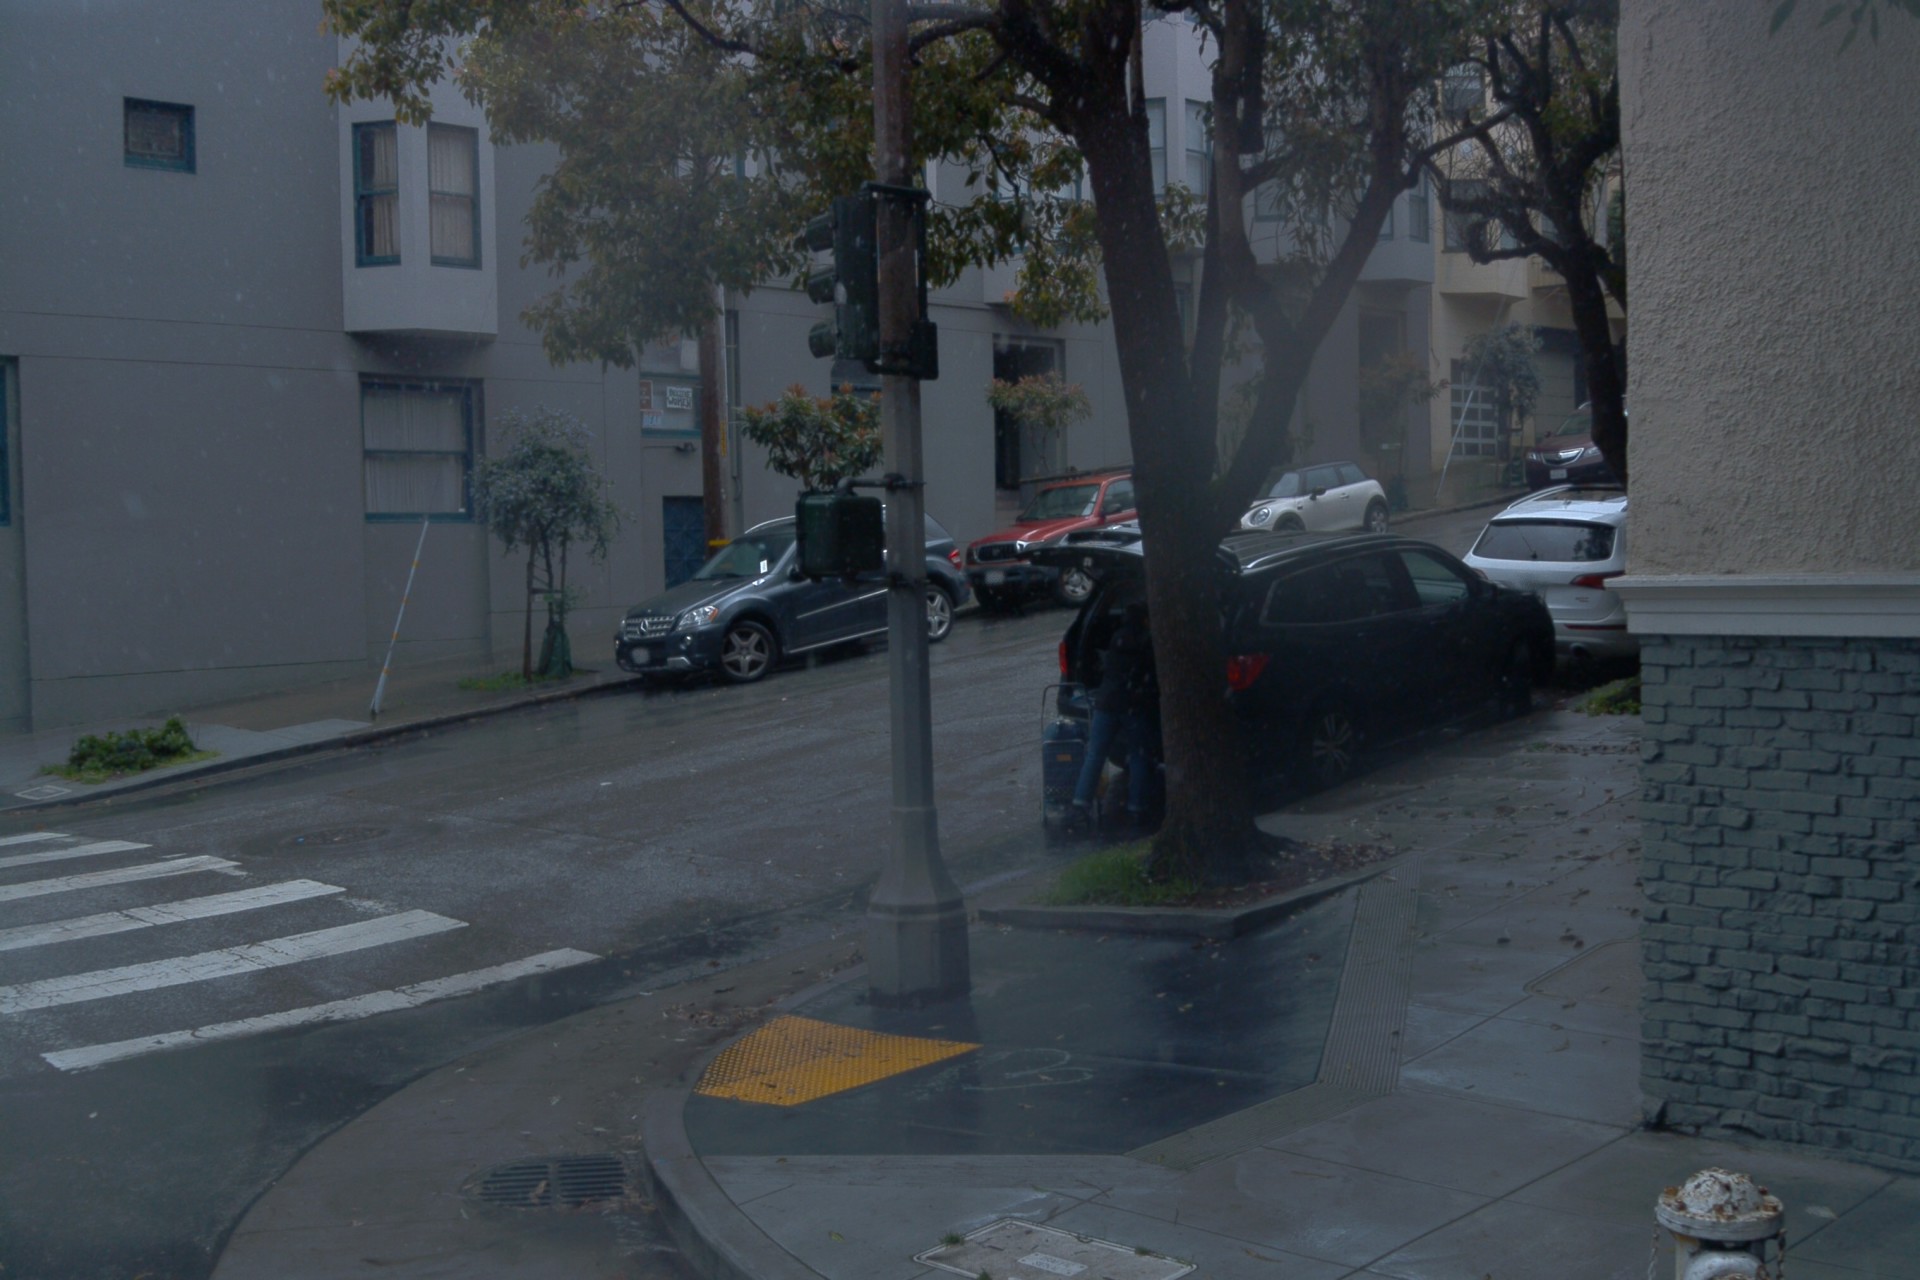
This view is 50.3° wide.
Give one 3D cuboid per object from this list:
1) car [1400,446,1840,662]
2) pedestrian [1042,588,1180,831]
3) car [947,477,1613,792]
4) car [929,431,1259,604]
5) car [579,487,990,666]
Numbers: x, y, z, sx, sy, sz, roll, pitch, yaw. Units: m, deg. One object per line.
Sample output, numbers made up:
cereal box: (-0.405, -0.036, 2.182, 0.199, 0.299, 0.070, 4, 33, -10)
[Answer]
car: (6.524, -0.725, 19.878, 2.355, 1.840, 4.675, 0, 0, 42)
pedestrian: (1.062, 0.466, 14.252, 0.793, 1.634, 0.885, 0, 0, 16)
car: (2.723, -0.029, 16.096, 2.384, 2.040, 5.680, 0, 0, 43)
car: (1.985, -1.648, 29.236, 4.537, 2.180, 2.259, 0, 0, -45)
car: (-2.050, -0.694, 24.963, 2.225, 1.980, 4.671, 0, 0, 45)
